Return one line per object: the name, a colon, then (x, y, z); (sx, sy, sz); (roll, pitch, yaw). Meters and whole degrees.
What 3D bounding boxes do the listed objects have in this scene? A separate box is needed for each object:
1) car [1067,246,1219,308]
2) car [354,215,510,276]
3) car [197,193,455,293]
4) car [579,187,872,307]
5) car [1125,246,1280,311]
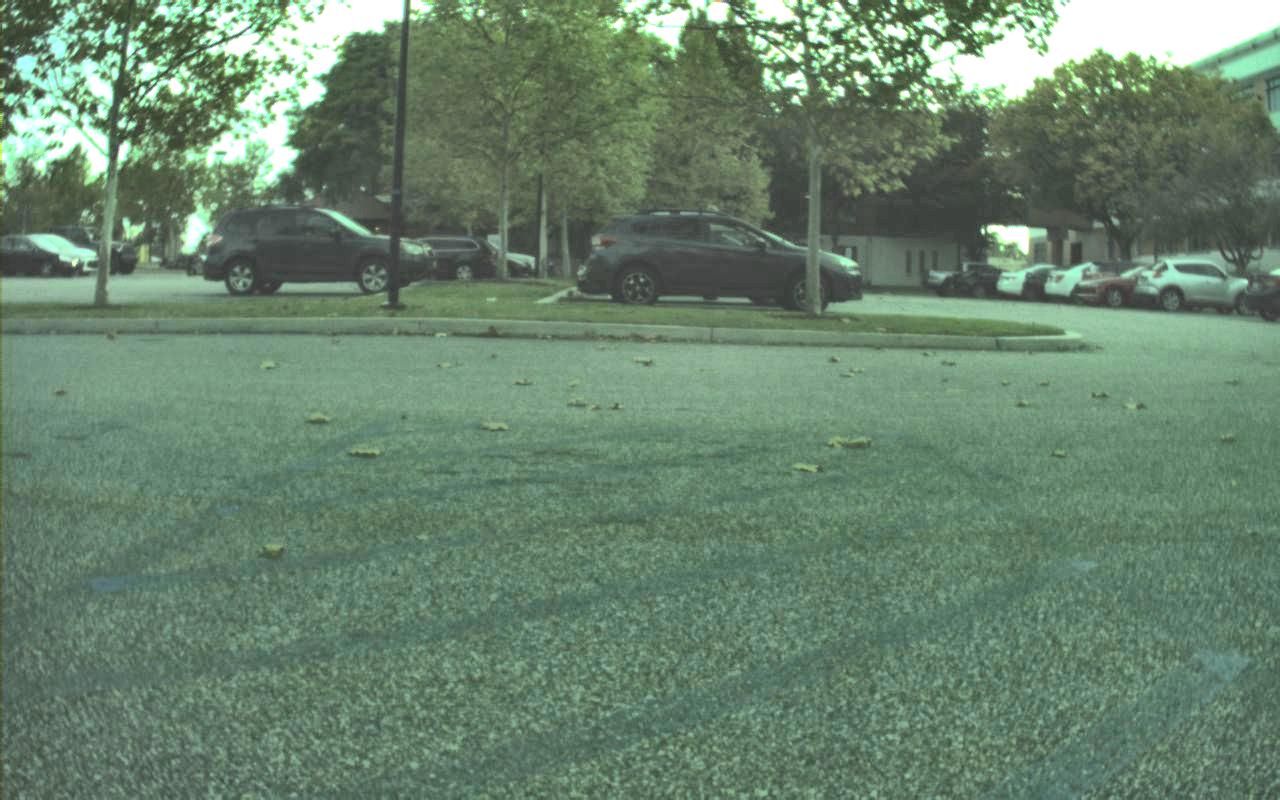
car: (15.461, -3.683, 36.241); (4.518, 1.634, 1.956); (0, 1, -1)
car: (-6.460, -4.789, 38.779); (4.661, 1.732, 2.009); (0, 1, -3)
car: (-5.959, -2.927, 23.268); (4.678, 1.676, 1.999); (0, 1, -1)
car: (1.309, -2.422, 20.296); (4.551, 1.687, 1.958); (0, 1, -3)
car: (16.301, -3.400, 33.474); (4.478, 1.647, 1.955); (1, 1, 4)
